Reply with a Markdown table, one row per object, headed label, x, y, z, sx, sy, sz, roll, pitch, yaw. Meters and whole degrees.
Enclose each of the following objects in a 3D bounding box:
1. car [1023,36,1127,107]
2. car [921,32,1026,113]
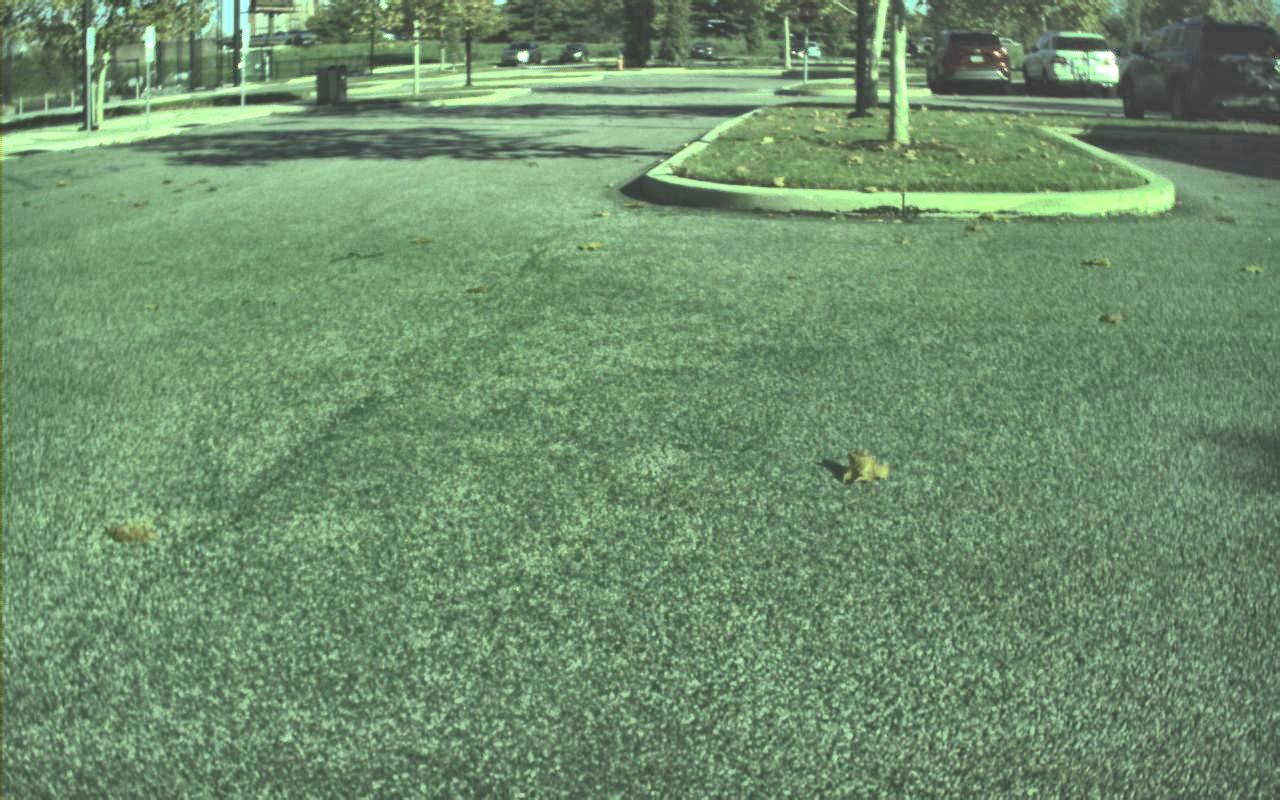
| label | x | y | z | sx | sy | sz | roll | pitch | yaw |
| --- | --- | --- | --- | --- | --- | --- | --- | --- | --- |
| car | 11.542 | -8.791 | 31.336 | 1.994 | 1.649 | 4.682 | 1 | 17 | 8 |
| car | 8.722 | -8.694 | 31.717 | 2.104 | 1.910 | 4.784 | 1 | 17 | 6 |
